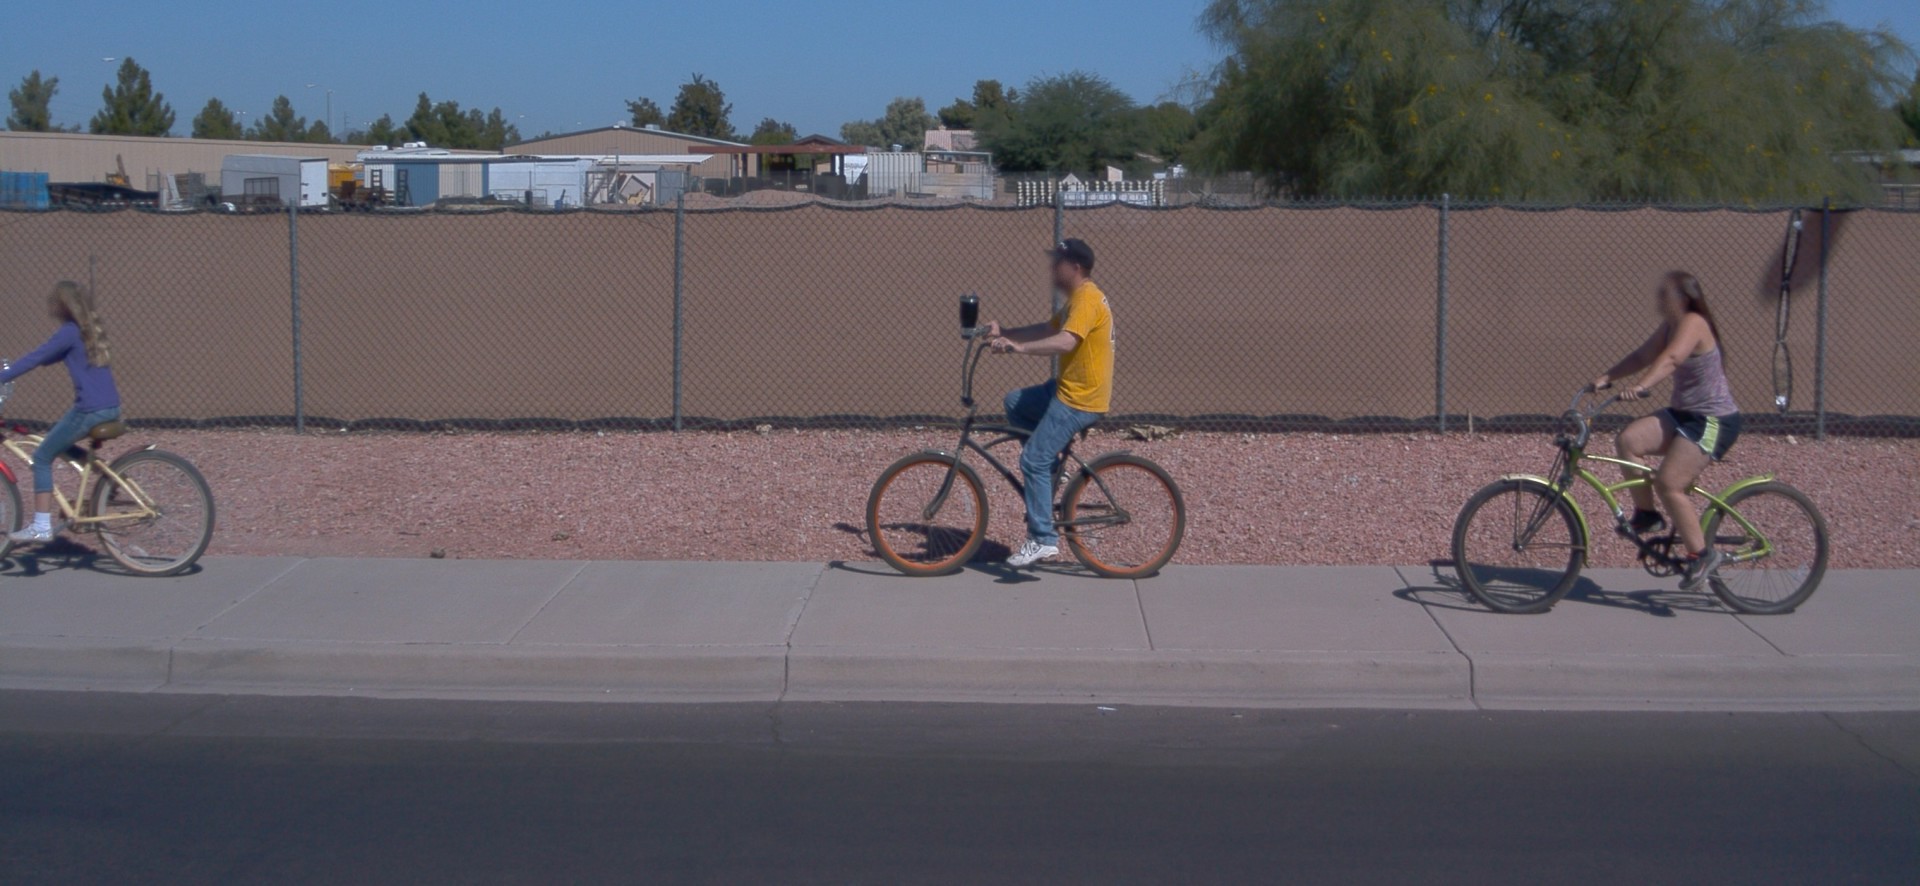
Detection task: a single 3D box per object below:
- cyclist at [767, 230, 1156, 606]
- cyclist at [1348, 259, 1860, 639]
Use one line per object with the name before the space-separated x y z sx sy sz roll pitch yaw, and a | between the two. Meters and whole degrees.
cyclist | 0.038 -0.177 10.780 1.932 1.859 0.937 0 1 3
cyclist | 3.071 -0.020 10.112 2.210 1.739 1.025 0 2 2
